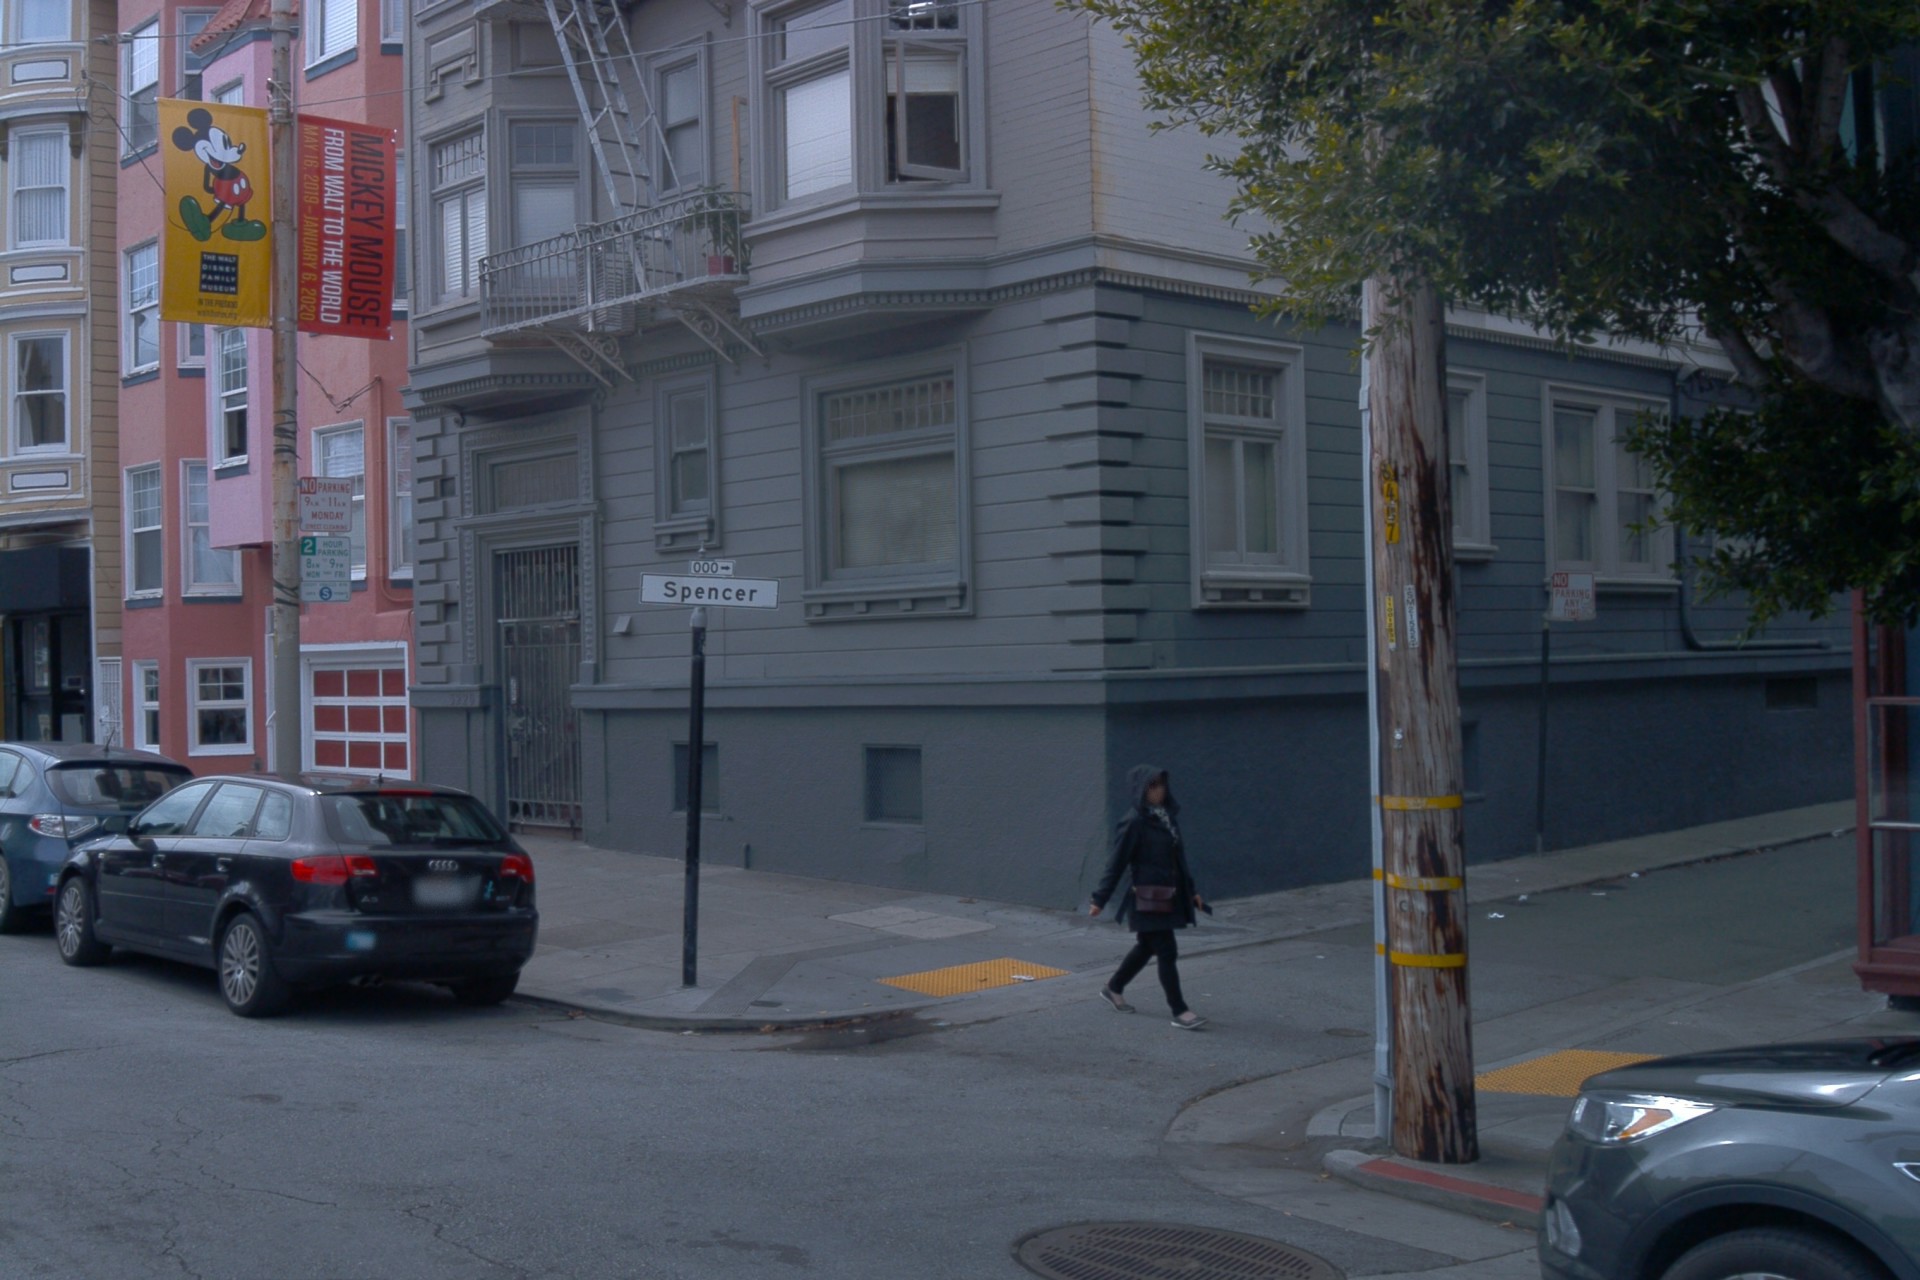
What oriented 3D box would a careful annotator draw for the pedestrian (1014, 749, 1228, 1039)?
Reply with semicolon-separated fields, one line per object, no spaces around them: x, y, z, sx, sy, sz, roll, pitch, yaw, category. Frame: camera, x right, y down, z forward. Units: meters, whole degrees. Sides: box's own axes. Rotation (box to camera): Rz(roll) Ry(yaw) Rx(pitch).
0.975;1.500;12.567;0.844;1.595;0.988;-1;1;-44;pedestrian

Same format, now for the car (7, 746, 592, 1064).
-4.469;1.570;13.572;1.934;1.470;4.382;-1;1;-44;car
